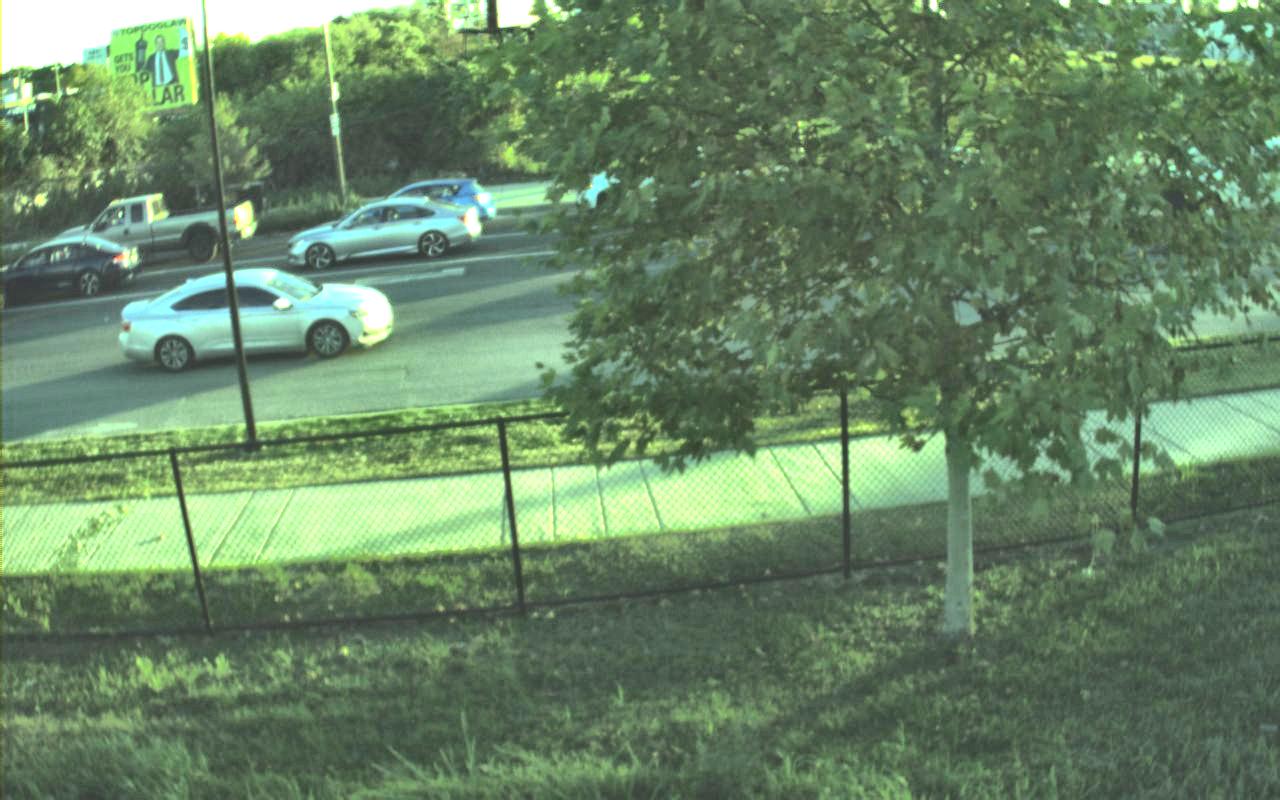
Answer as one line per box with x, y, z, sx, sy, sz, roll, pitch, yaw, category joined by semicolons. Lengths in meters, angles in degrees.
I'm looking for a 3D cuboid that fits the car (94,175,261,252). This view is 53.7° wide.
-13.115;-5.228;33.422;4.570;1.633;1.969;-3;16;-5;car

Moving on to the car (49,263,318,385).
-8.201;-1.335;21.346;4.564;1.636;2.045;-1;16;-1;car
